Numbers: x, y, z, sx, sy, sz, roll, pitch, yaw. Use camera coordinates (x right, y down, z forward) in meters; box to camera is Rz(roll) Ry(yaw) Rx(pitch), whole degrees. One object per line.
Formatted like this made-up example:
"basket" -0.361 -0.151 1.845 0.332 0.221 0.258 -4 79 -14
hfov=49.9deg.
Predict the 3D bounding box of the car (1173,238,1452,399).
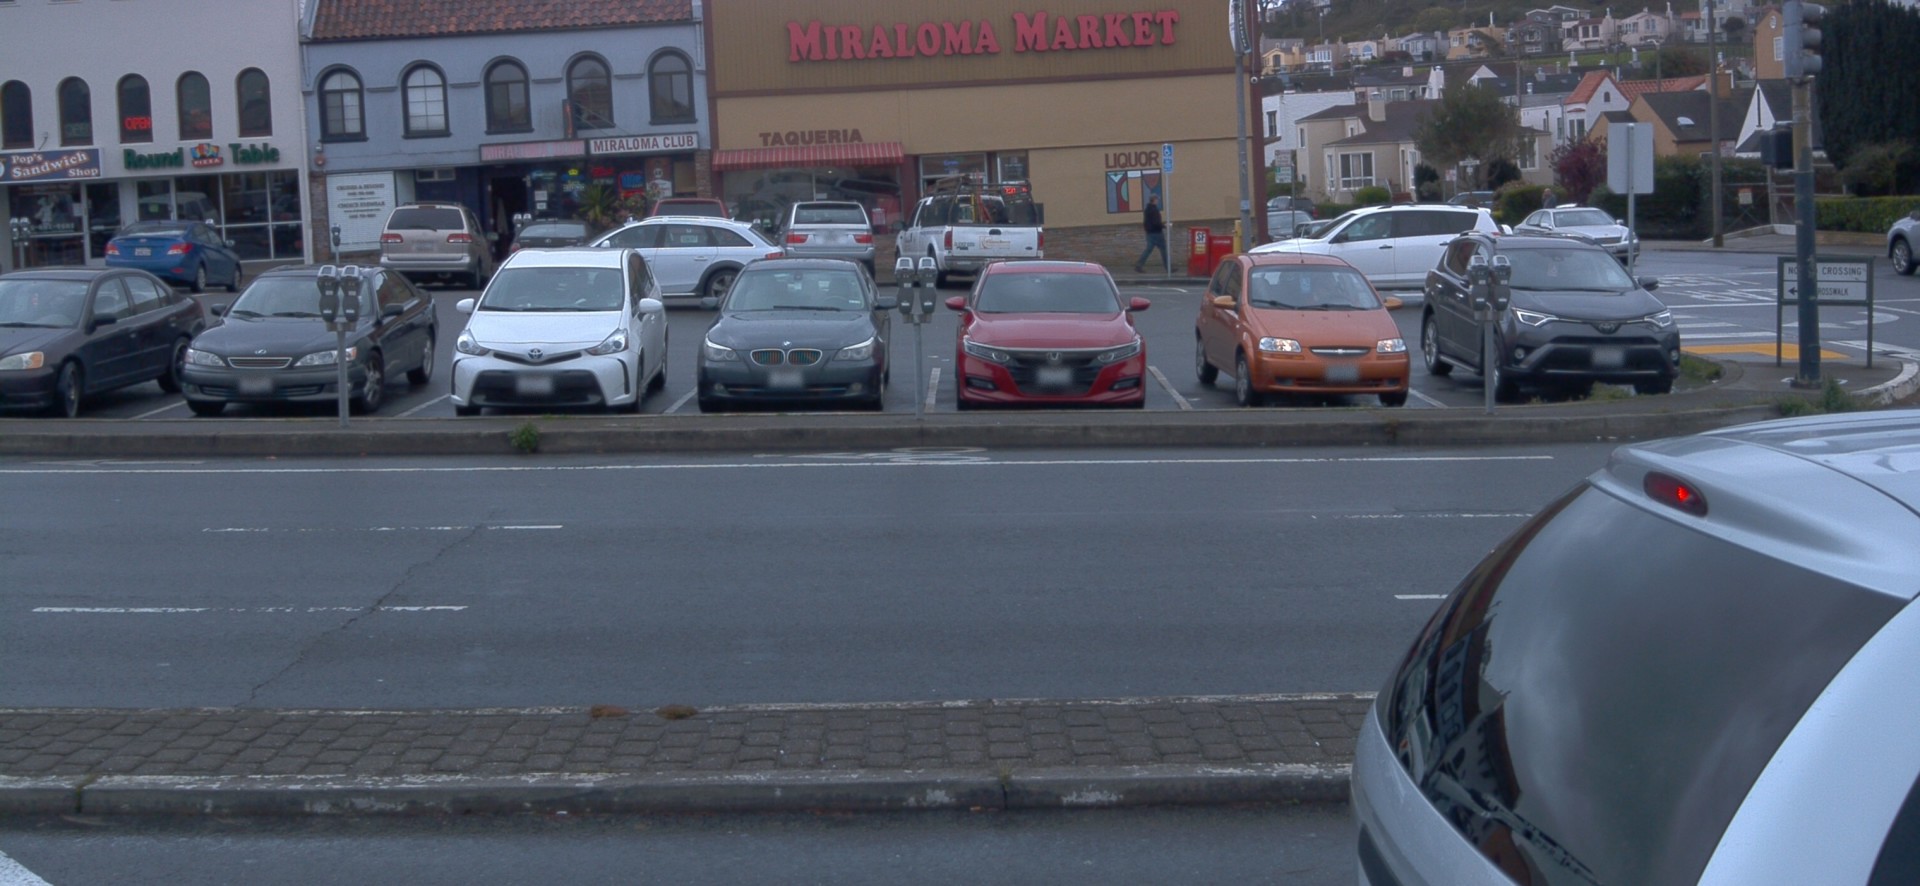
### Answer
"car" 3.596 -1.397 21.821 2.049 1.462 4.037 0 6 -4

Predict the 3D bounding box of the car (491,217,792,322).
"car" -5.110 -2.839 33.402 4.661 1.604 2.077 -1 5 -8

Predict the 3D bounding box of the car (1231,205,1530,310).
"car" 7.113 -3.197 35.274 4.738 1.734 2.065 0 4 1

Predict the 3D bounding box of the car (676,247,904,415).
"car" -1.660 -1.270 21.658 2.112 1.461 4.574 0 6 -1

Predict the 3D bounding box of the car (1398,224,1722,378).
"car" 6.387 -1.640 22.575 2.205 1.461 4.580 0 6 0

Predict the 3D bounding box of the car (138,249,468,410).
"car" -6.721 -1.286 21.702 2.023 1.392 4.712 0 6 -1

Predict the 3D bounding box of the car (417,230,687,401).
"car" -4.056 -1.415 21.291 2.132 1.491 4.678 0 6 -4

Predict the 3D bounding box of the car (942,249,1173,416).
"car" 0.905 -1.267 21.830 2.185 1.461 4.636 0 6 -1
